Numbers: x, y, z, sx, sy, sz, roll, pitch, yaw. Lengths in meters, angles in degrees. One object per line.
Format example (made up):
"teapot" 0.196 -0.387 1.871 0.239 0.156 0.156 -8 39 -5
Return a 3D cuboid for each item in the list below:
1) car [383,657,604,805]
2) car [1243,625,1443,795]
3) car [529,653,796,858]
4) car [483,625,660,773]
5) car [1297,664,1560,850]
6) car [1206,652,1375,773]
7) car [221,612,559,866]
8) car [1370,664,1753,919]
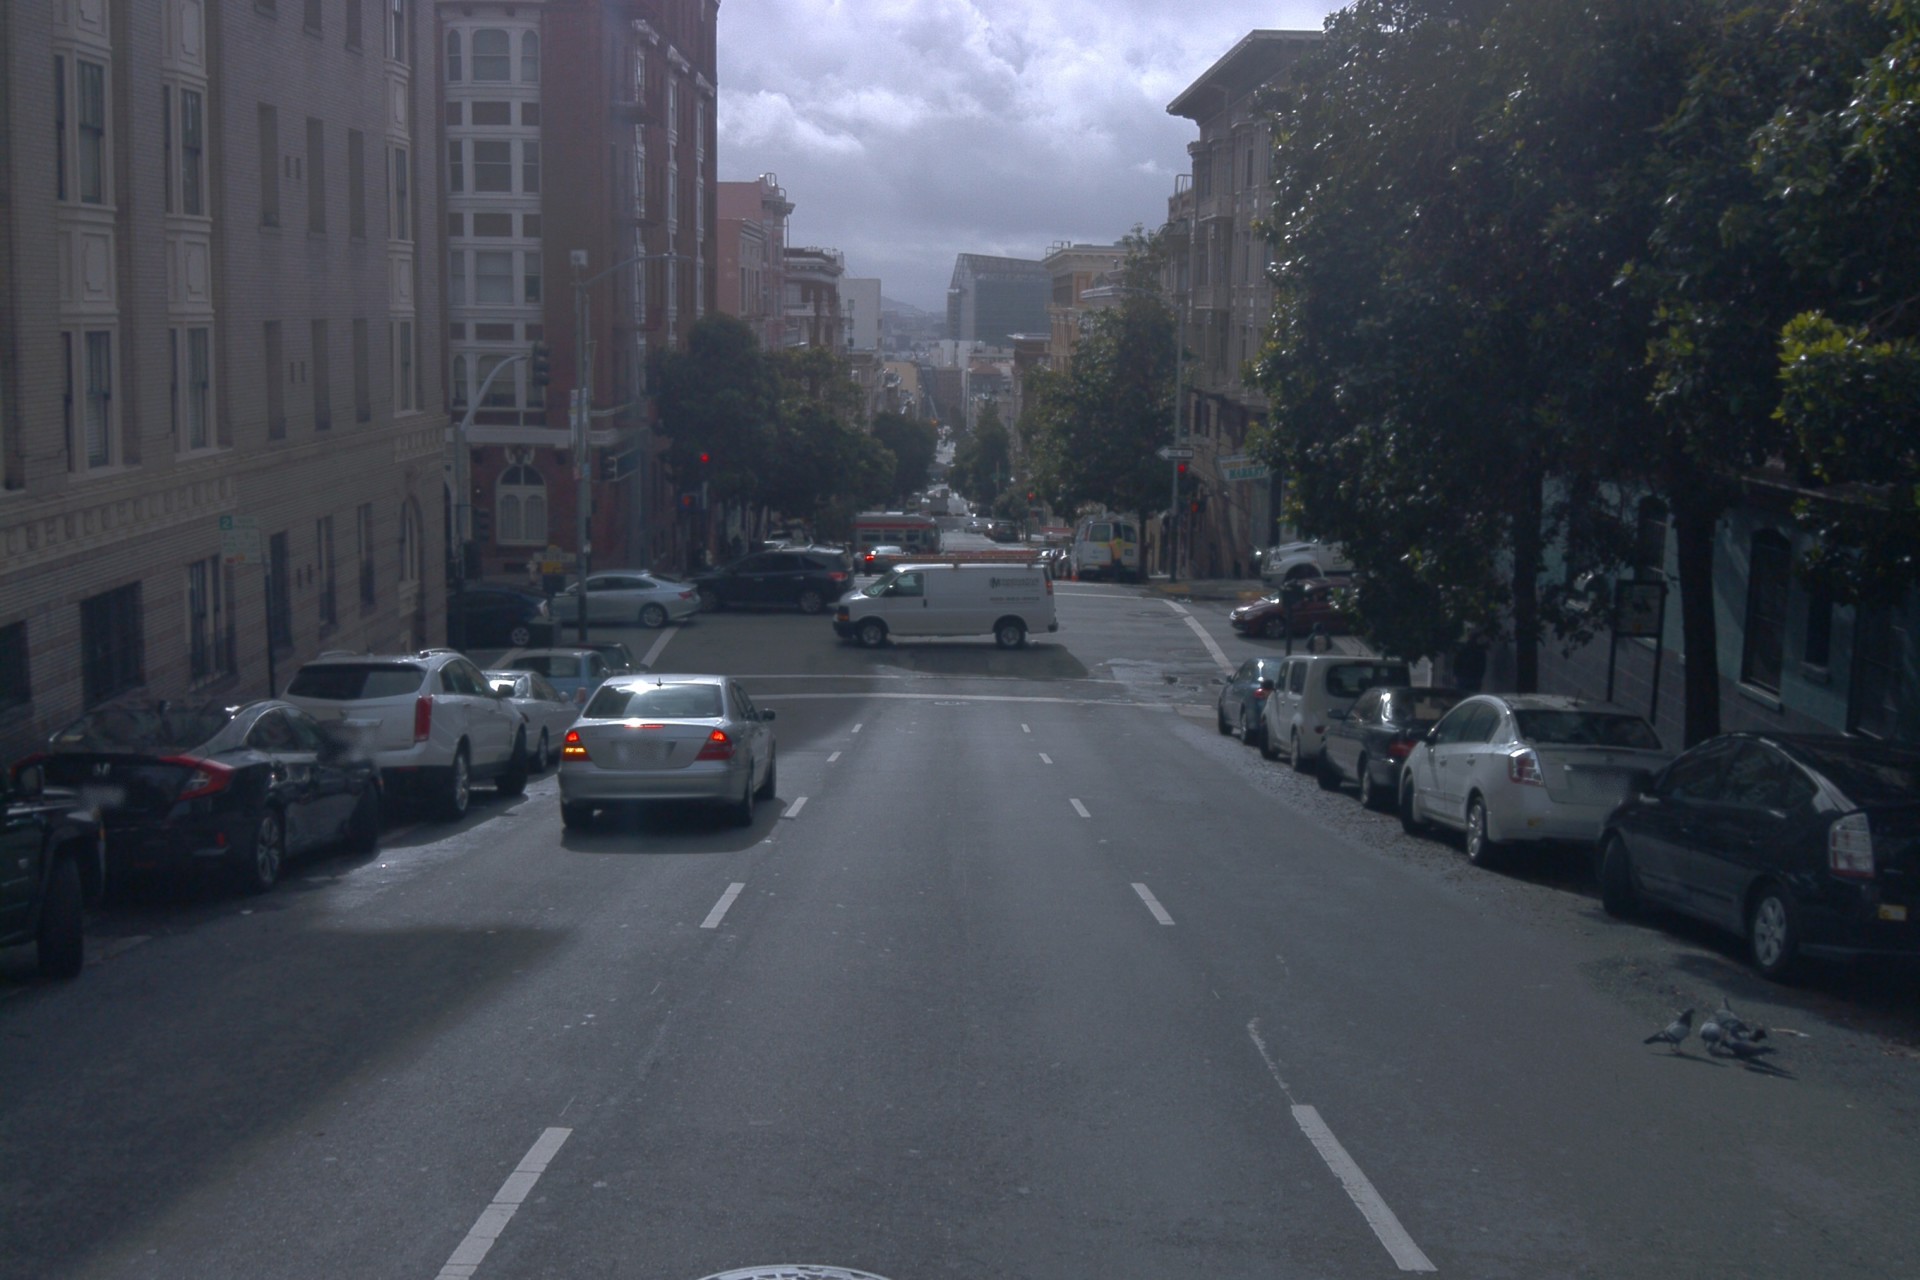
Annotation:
"car" -6.074 1.128 27.105 1.958 1.670 4.250 1 1 0
"car" 5.439 0.934 29.568 2.029 2.230 3.892 1 1 -1
"car" -2.855 1.052 20.667 2.074 1.700 4.689 1 1 -1
"car" -5.881 0.841 31.346 1.859 2.070 3.589 1 1 3
"car" 5.367 1.274 24.079 2.033 1.822 4.632 1 1 0
"car" 5.510 1.165 34.678 2.011 1.800 4.510 1 1 -1
"car" -5.805 0.896 21.520 2.235 2.330 4.782 1 1 -1
"car" 5.386 1.271 19.013 2.136 1.940 4.452 1 1 -1
